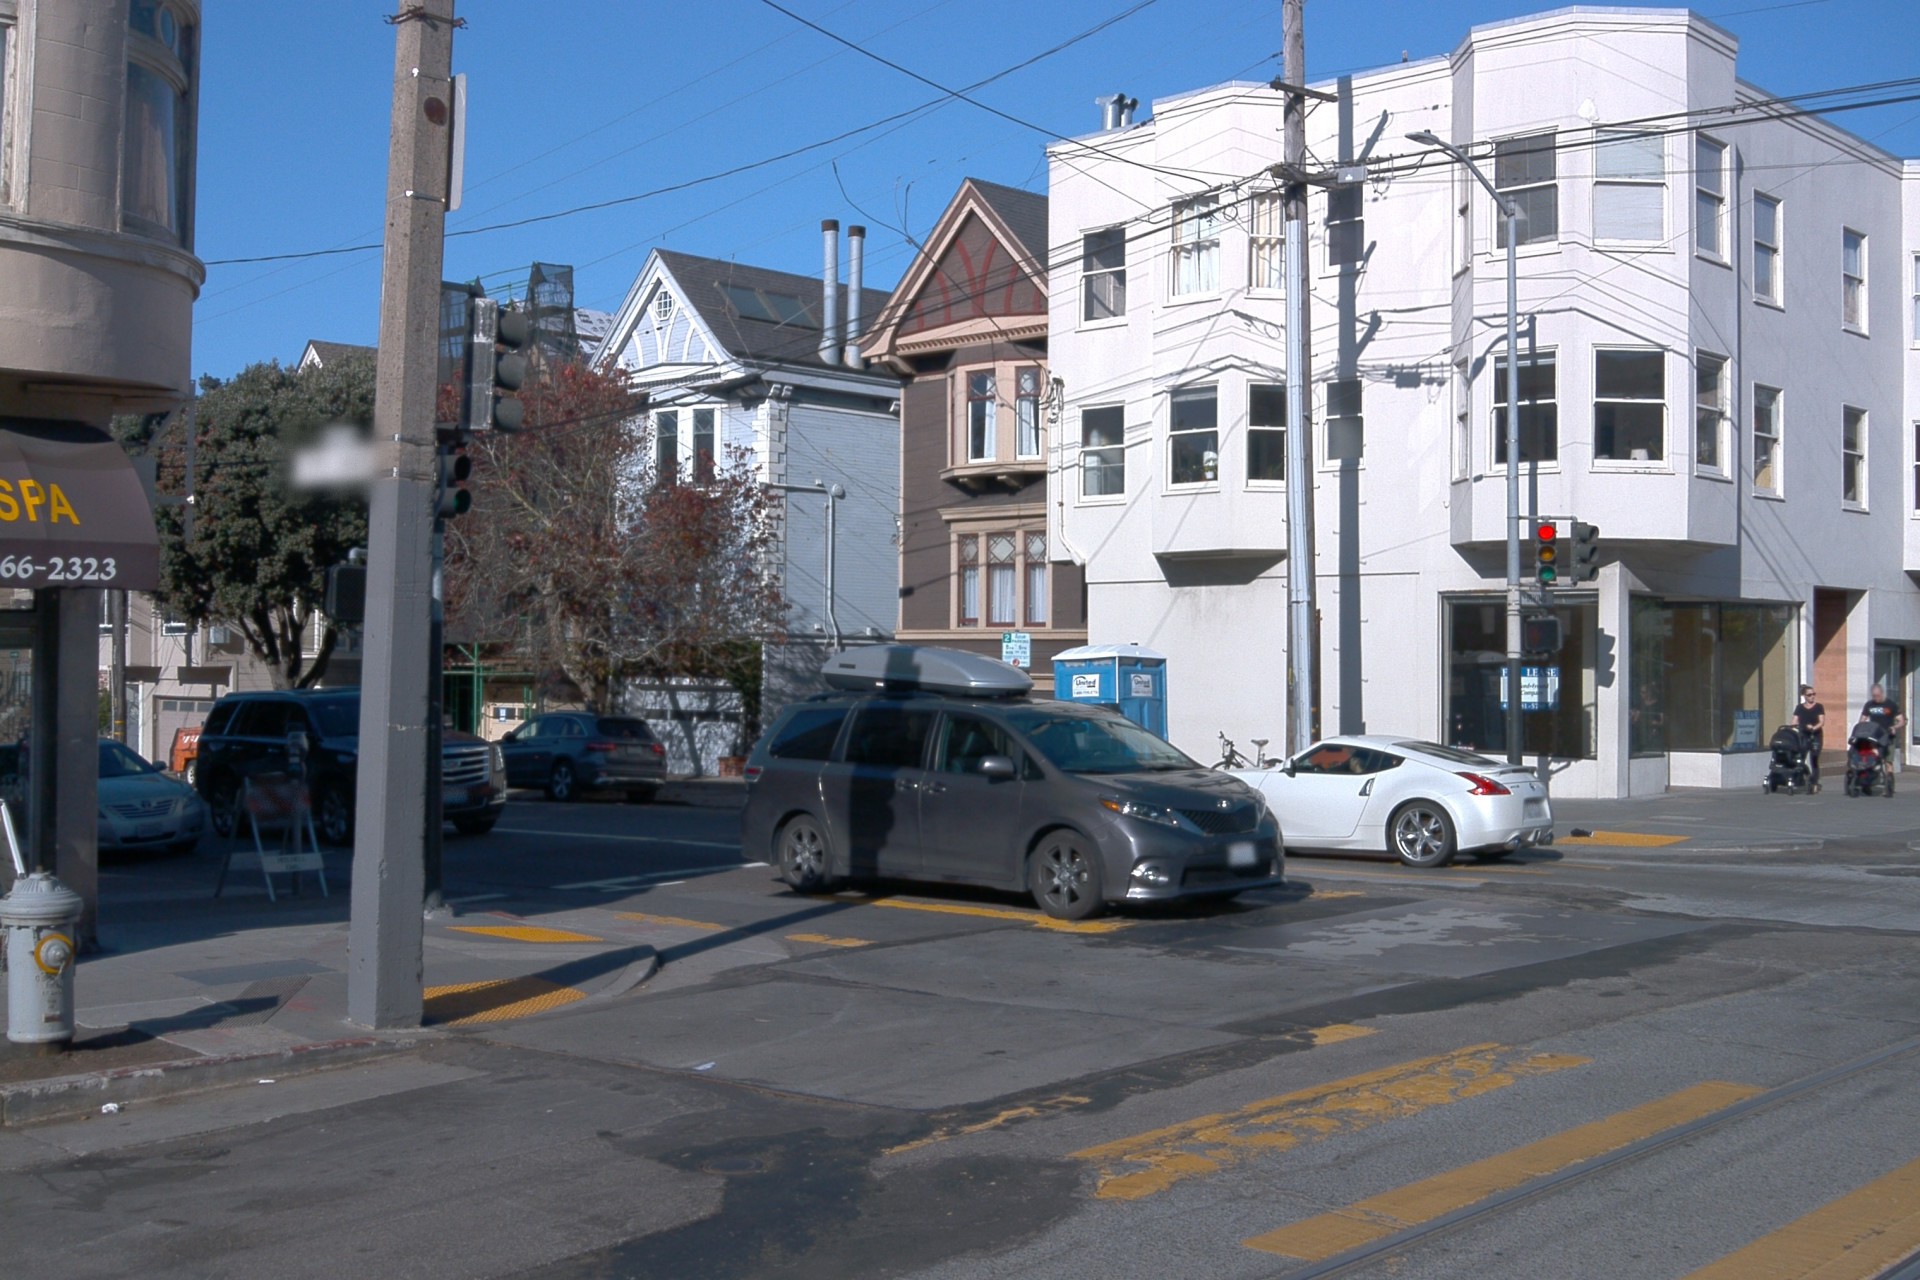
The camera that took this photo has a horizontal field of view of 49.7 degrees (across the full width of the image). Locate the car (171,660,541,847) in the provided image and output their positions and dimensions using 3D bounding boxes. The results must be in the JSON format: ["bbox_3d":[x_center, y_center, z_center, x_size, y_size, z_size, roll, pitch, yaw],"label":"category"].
[{"bbox_3d":[-7.771,1.321,26.355,2.284,2.090,5.186,0,0,-45],"label":"car"}]

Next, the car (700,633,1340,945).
[{"bbox_3d":[0.361,1.085,17.753,5.228,2.260,2.419,0,0,45],"label":"car"}]

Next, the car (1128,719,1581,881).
[{"bbox_3d":[4.116,1.609,21.945,4.243,1.390,2.007,0,0,39],"label":"car"}]

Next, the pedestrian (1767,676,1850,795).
[{"bbox_3d":[12.680,1.405,30.969,0.832,1.720,1.019,0,0,43],"label":"pedestrian"}]

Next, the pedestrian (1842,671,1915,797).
[{"bbox_3d":[13.682,1.385,30.871,0.763,1.820,0.953,0,0,39],"label":"pedestrian"}]
